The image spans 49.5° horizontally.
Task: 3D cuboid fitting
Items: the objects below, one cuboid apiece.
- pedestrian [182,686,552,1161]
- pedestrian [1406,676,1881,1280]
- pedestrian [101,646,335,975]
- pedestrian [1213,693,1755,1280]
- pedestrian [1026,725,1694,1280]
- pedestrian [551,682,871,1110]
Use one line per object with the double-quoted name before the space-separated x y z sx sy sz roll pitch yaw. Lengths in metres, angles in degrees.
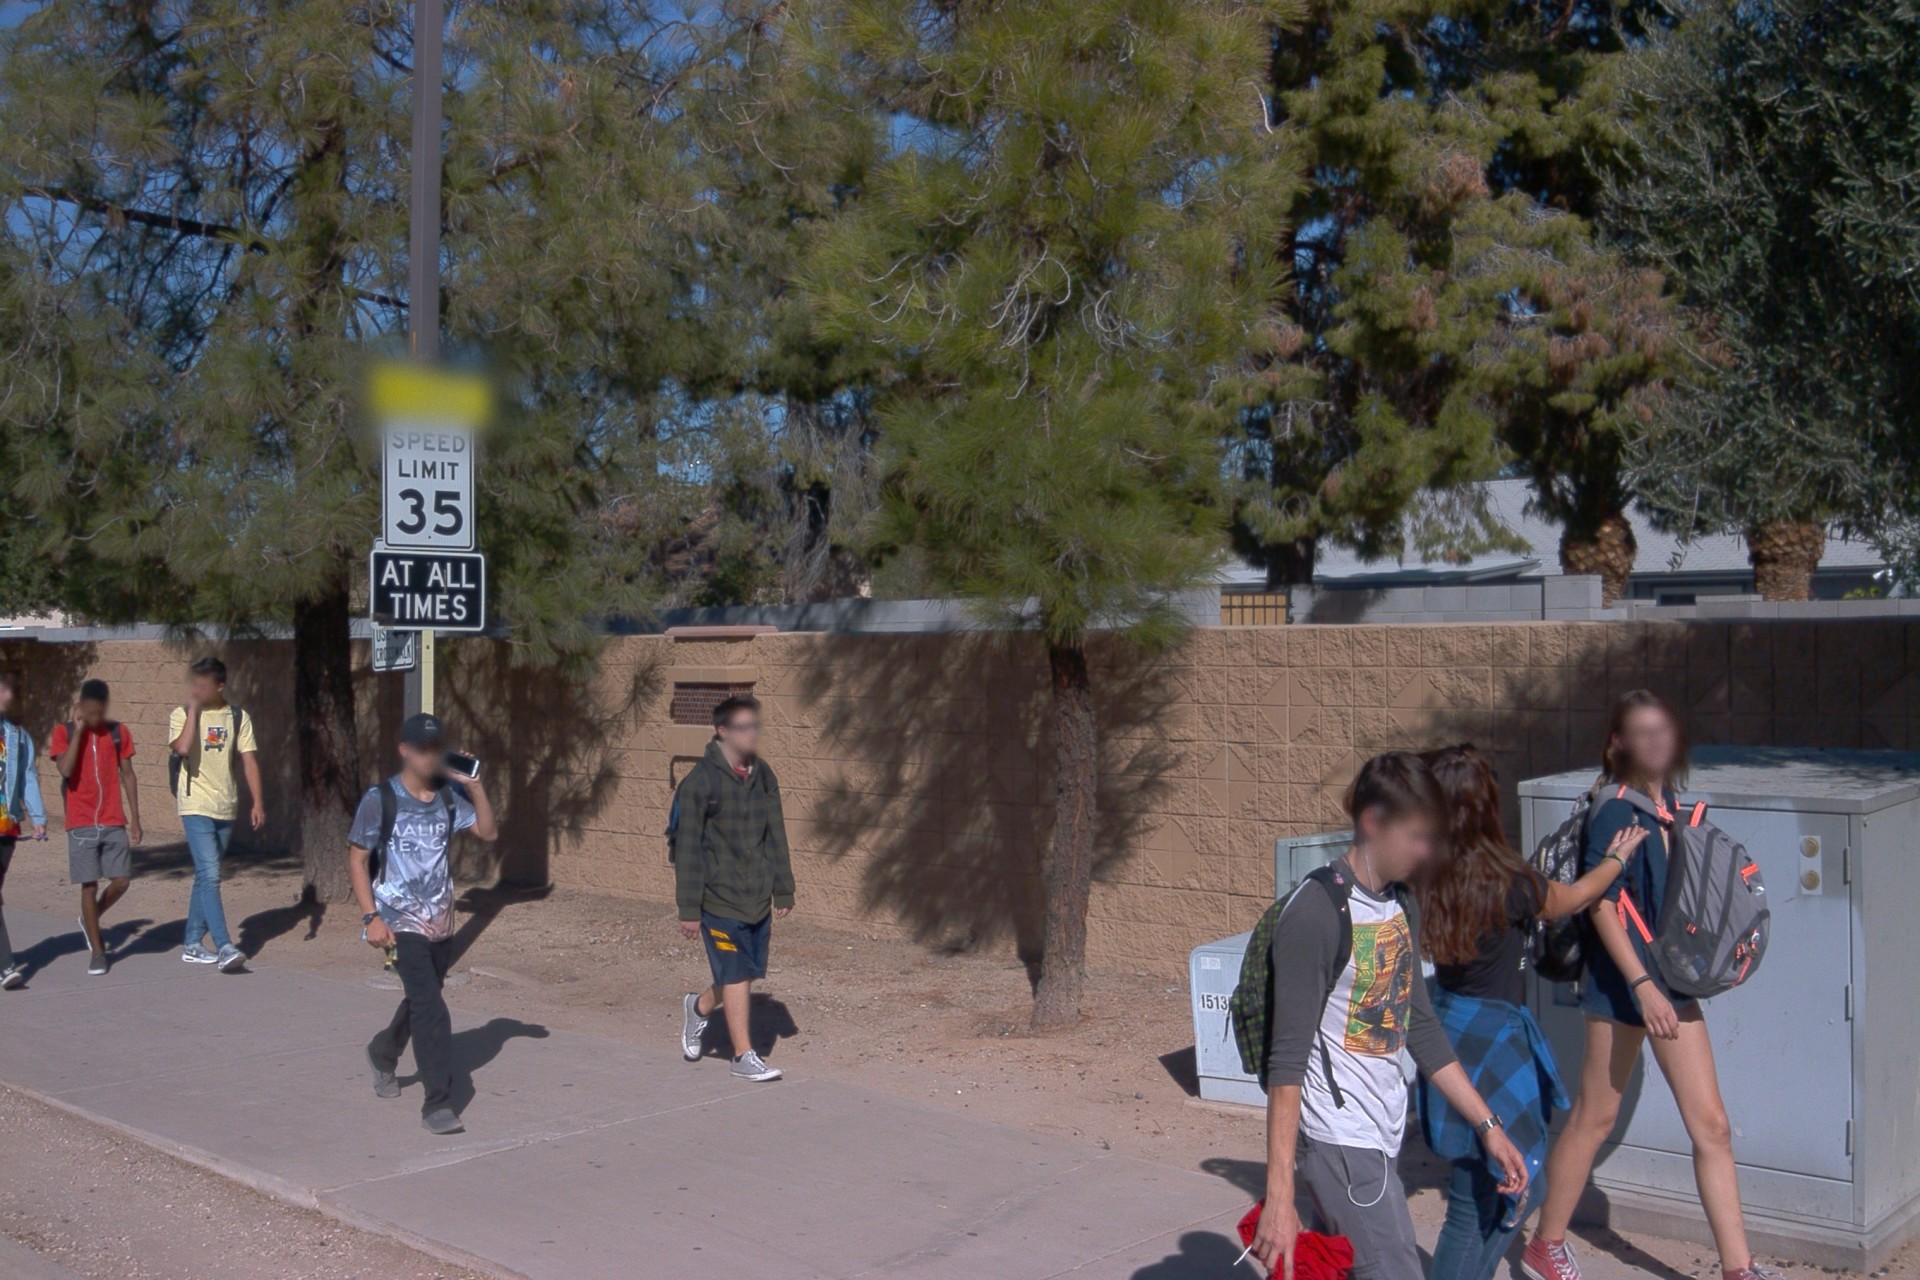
"pedestrian" -2.487 1.096 8.713 1.228 1.800 0.978 0 -1 42
"pedestrian" 1.976 1.051 5.985 1.029 1.890 0.978 0 -1 38
"pedestrian" -4.588 1.007 12.872 1.030 1.920 0.978 0 -1 42
"pedestrian" 1.365 1.063 5.405 1.029 1.840 0.978 0 -1 41
"pedestrian" 0.852 1.118 4.414 1.030 1.840 0.978 0 -1 42
"pedestrian" -1.112 1.073 9.311 1.030 1.760 0.978 0 -1 42
